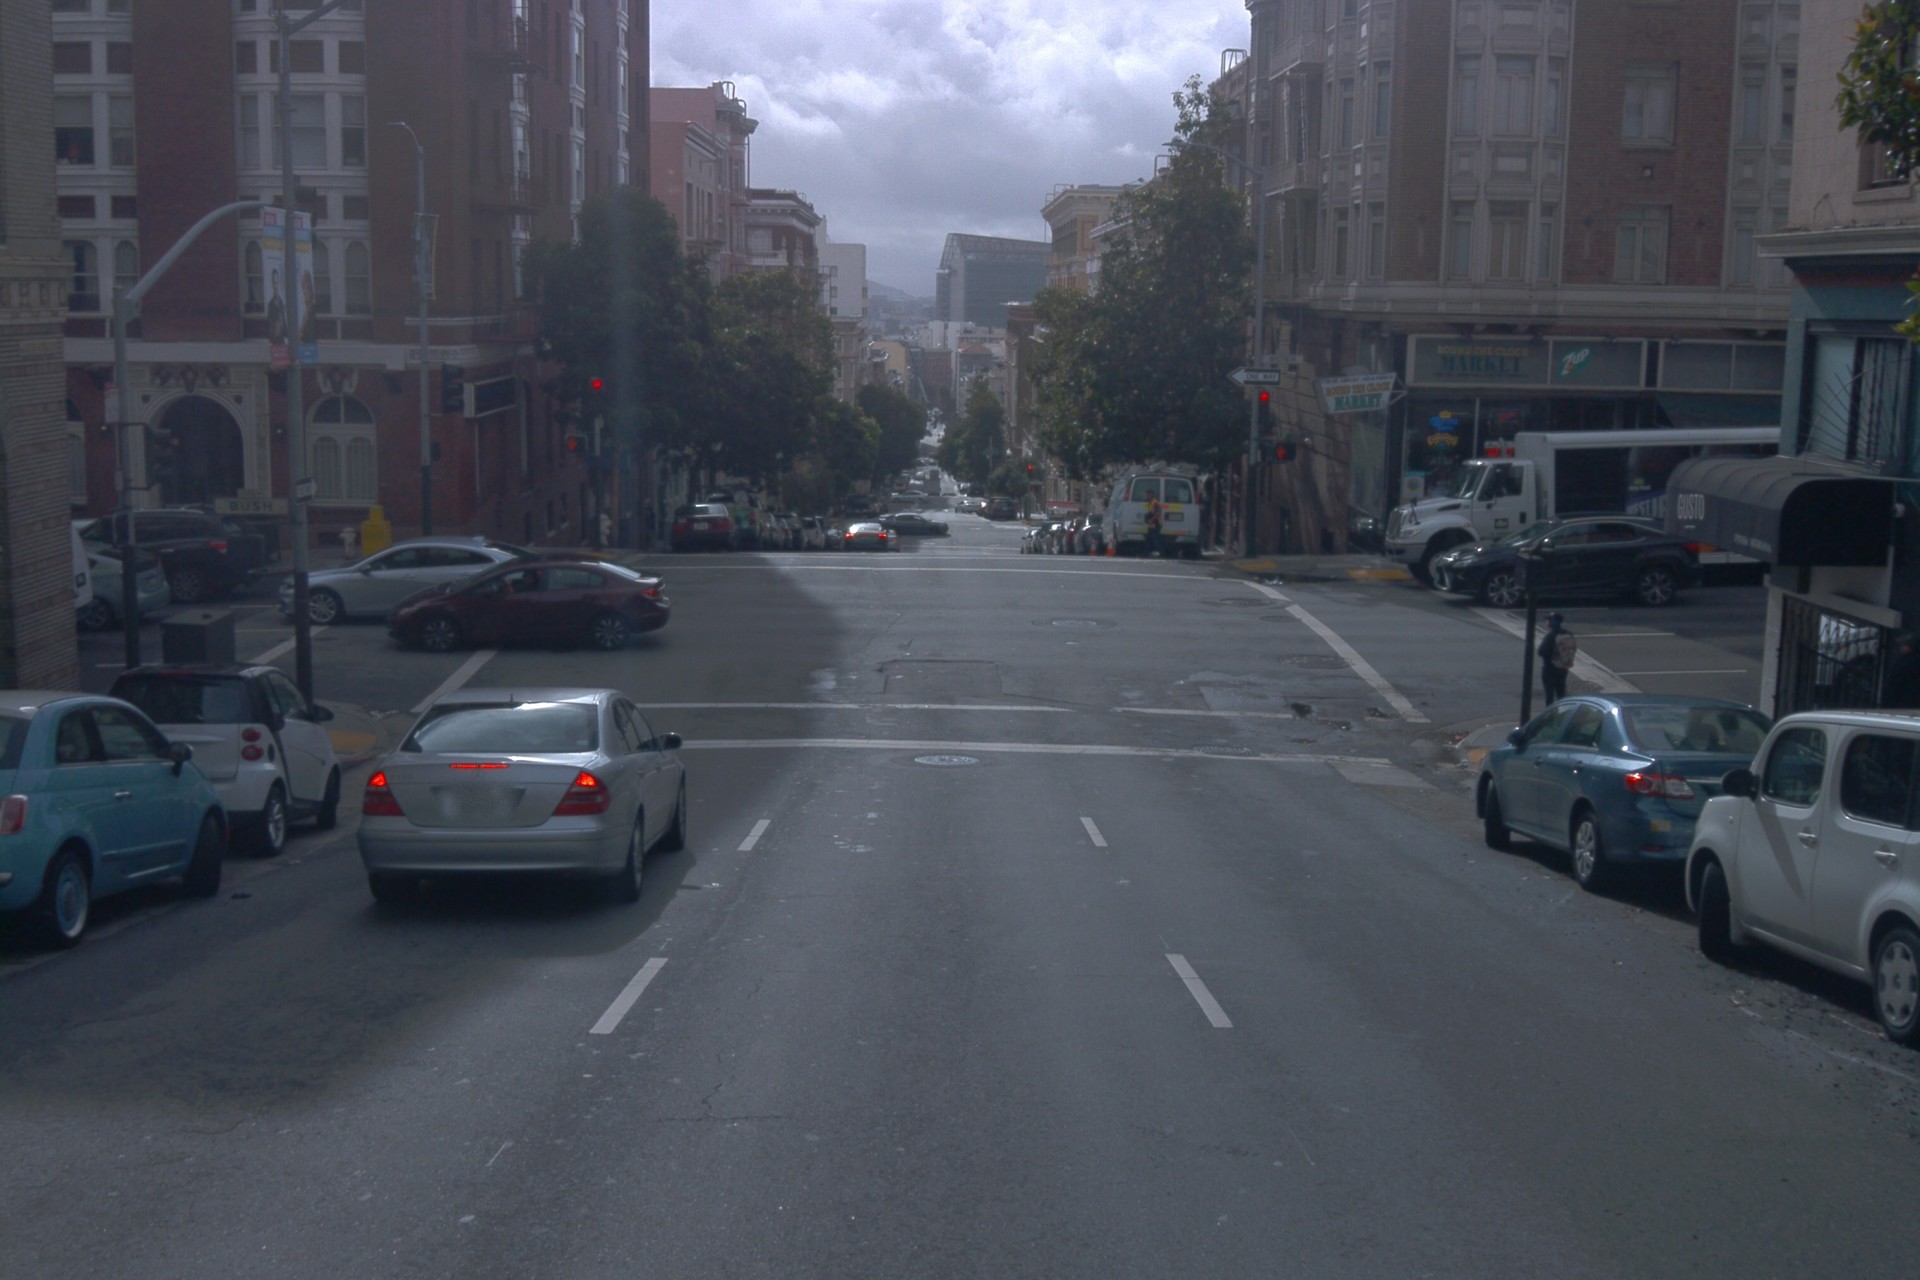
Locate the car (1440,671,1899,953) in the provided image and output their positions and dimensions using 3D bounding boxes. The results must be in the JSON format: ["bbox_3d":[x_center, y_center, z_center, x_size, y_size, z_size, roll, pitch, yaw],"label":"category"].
[{"bbox_3d":[5.489,1.237,16.539,2.011,1.800,4.510,1,1,-2],"label":"car"}]

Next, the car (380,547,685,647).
[{"bbox_3d":[-6.836,-0.685,33.156,4.627,1.479,2.033,1,1,-5],"label":"car"}]

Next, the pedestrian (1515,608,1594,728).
[{"bbox_3d":[8.086,0.369,27.836,0.752,1.590,0.926,1,1,-2],"label":"pedestrian"}]

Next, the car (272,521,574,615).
[{"bbox_3d":[-9.243,-1.232,35.485,4.737,1.500,1.876,1,1,-1],"label":"car"}]

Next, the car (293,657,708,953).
[{"bbox_3d":[-3.145,1.050,15.068,2.074,1.700,4.689,1,1,-1],"label":"car"}]

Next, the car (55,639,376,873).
[{"bbox_3d":[-6.164,0.900,17.241,1.776,1.740,2.835,1,1,-3],"label":"car"}]
